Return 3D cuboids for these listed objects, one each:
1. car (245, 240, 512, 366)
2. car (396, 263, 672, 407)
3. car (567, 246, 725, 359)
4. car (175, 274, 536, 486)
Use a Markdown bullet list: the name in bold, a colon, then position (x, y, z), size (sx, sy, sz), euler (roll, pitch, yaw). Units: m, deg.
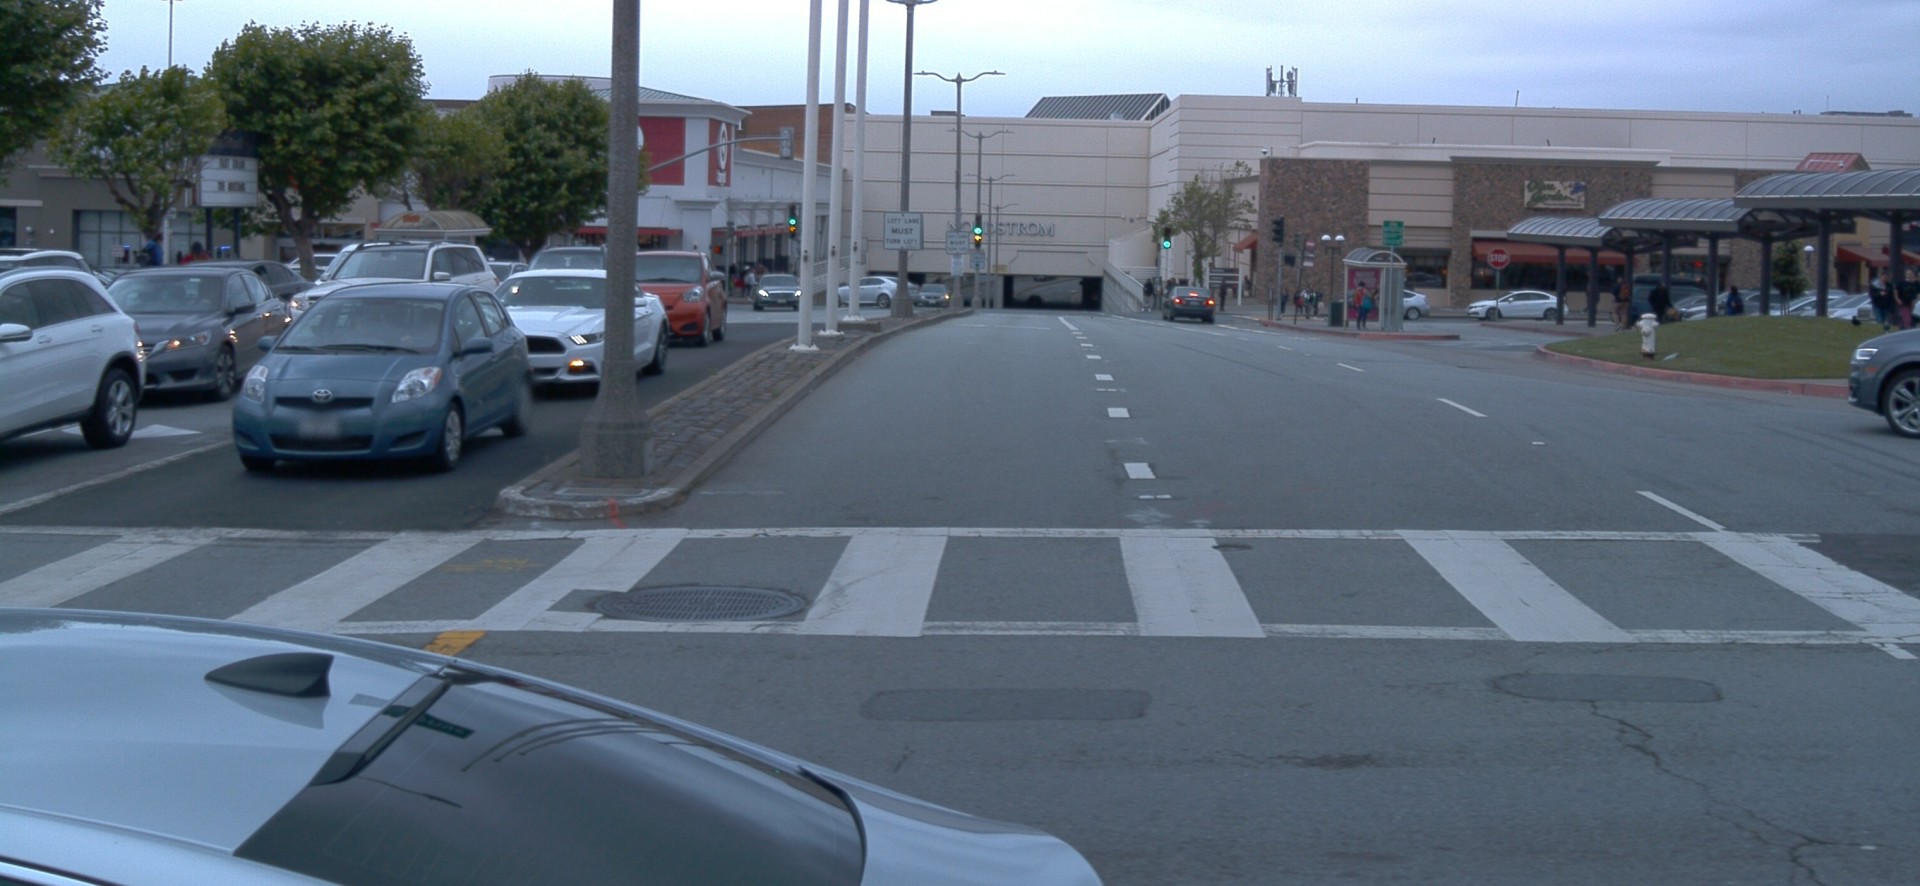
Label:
- **car**: position (-8.776, -2.222, 31.487), size (2.187, 1.773, 4.598), euler (1, 5, 9)
- **car**: position (-4.962, -1.377, 24.678), size (2.118, 1.494, 4.729), euler (0, 5, 3)
- **car**: position (-4.908, -2.264, 32.487), size (1.896, 1.695, 3.093), euler (0, 4, 2)
- **car**: position (-5.133, -0.650, 18.032), size (1.989, 1.584, 3.901), euler (0, 5, 0)
